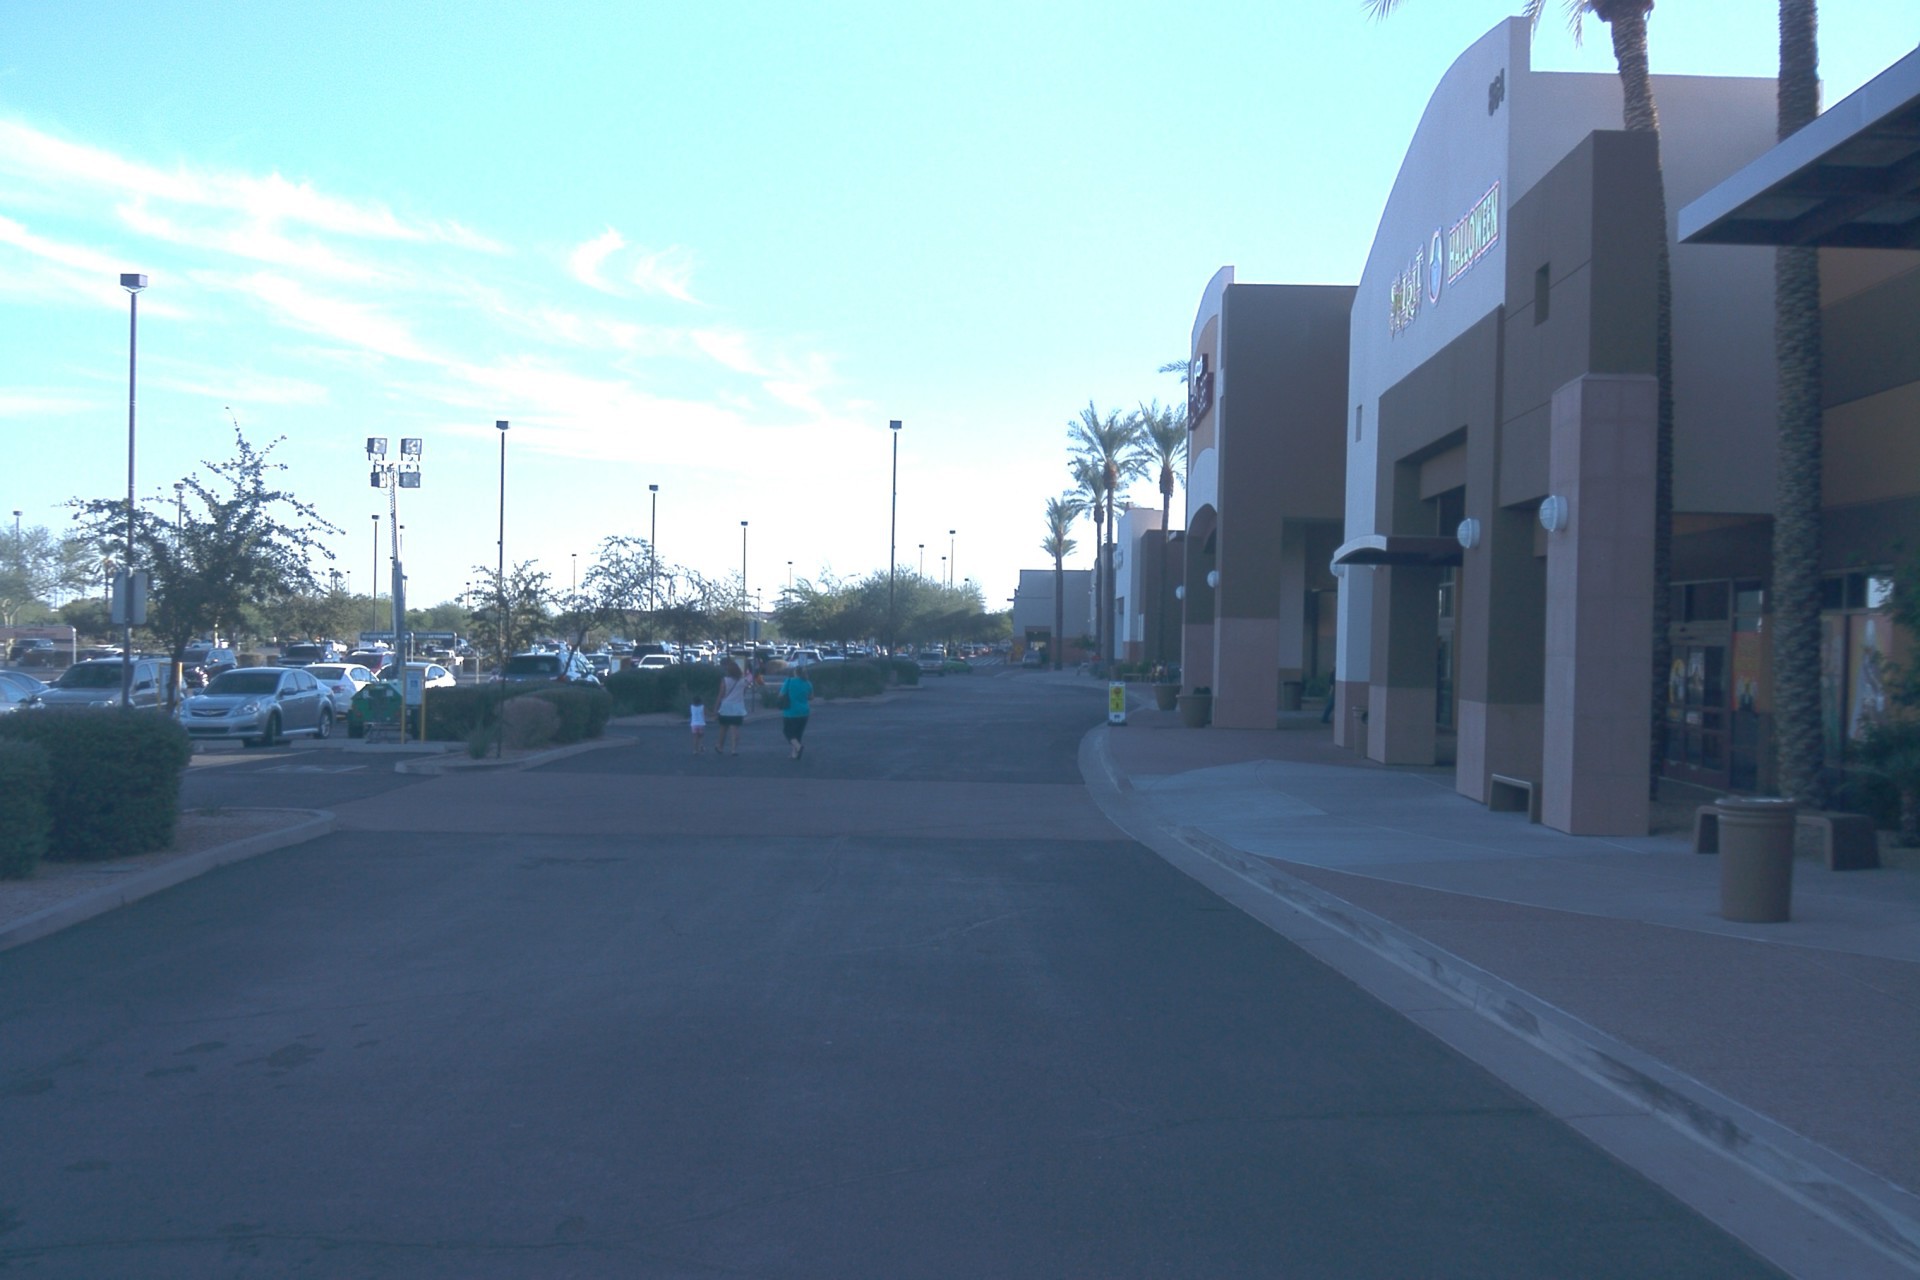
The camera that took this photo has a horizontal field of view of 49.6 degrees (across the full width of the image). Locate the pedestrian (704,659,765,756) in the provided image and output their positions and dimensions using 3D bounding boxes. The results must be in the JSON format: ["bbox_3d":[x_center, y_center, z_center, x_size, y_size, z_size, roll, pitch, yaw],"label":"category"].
[{"bbox_3d":[-3.980,1.176,36.676,0.838,1.680,0.920,0,0,-21],"label":"pedestrian"}]

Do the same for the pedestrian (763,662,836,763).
[{"bbox_3d":[-2.774,1.237,35.859,0.906,1.700,0.859,0,0,45],"label":"pedestrian"}]
